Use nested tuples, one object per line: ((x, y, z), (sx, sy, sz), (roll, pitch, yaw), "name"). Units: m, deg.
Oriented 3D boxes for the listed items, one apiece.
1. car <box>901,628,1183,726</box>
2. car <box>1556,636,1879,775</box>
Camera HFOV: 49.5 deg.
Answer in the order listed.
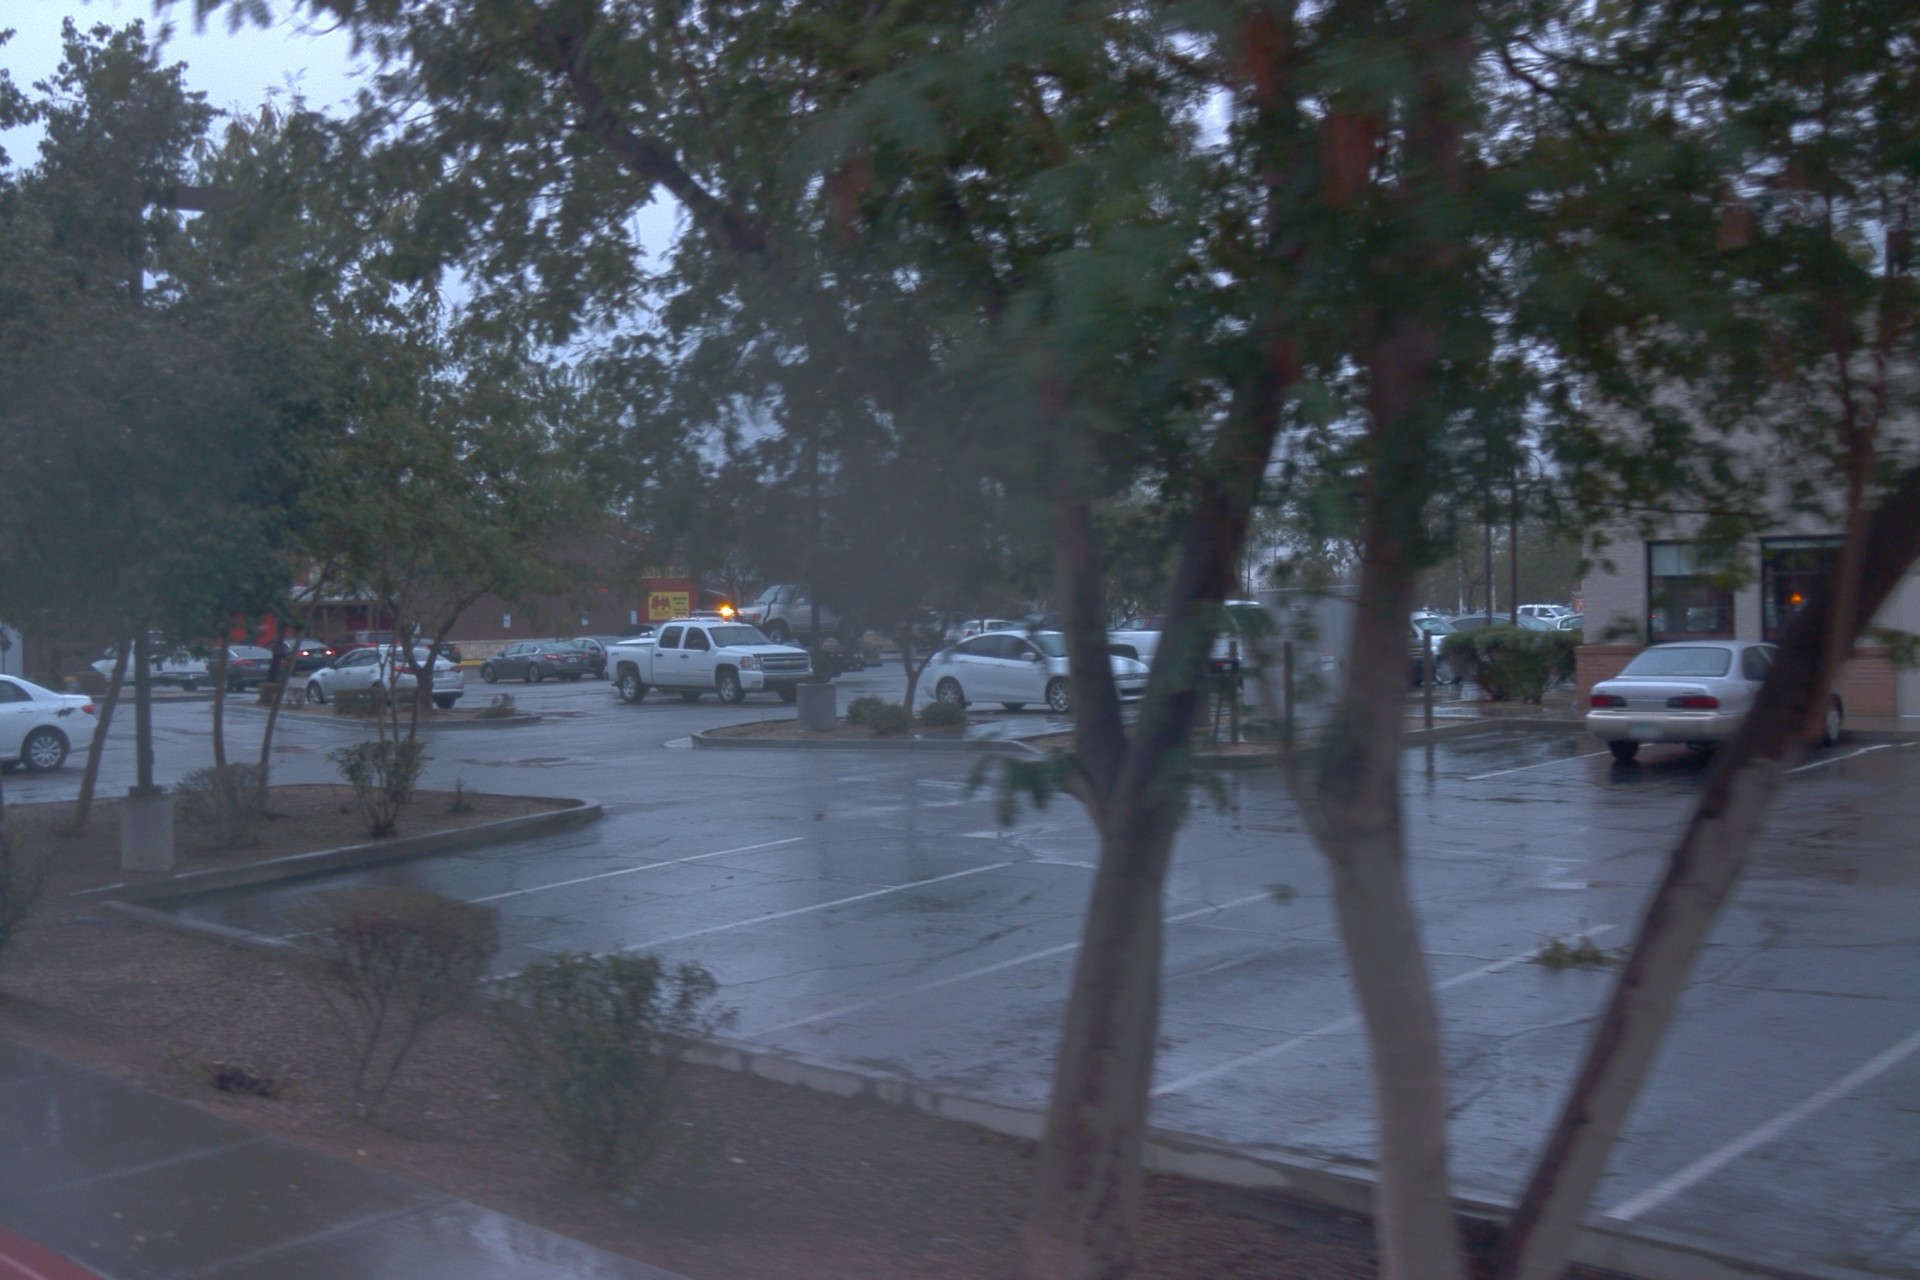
((1.384, 0.634, 36.921), (2.183, 1.620, 4.815), (0, -1, -44), "car")
((9.022, 0.728, 24.614), (1.924, 1.490, 4.381), (0, -1, 45), "car")
